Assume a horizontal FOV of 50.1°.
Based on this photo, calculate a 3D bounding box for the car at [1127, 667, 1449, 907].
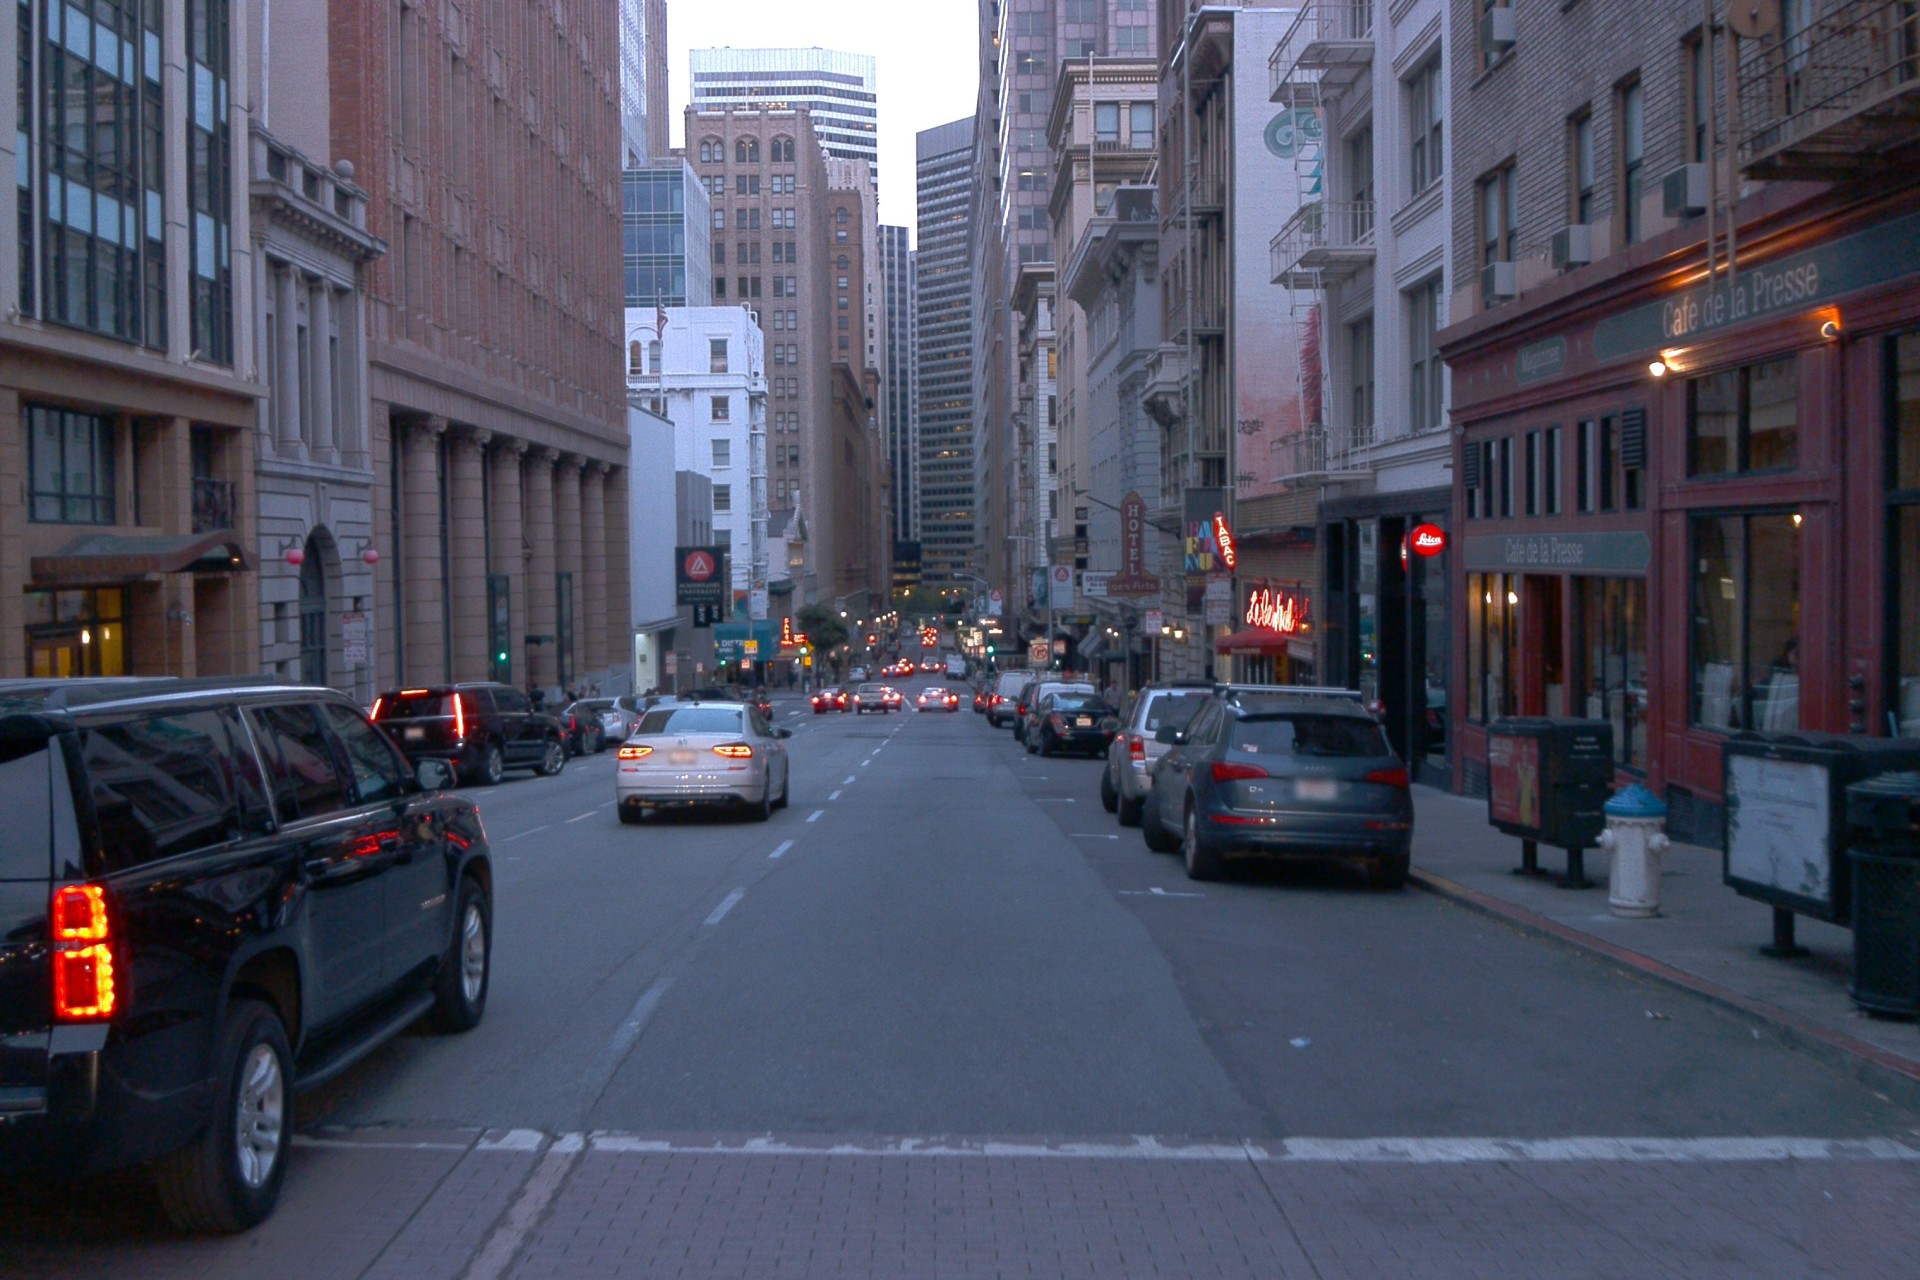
[{"bbox_3d":[2.902,1.242,19.356,2.215,1.850,4.835,0,1,0],"label":"car"}]

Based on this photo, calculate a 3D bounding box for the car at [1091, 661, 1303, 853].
[{"bbox_3d":[2.864,1.372,25.861,2.112,2.100,4.445,0,1,0],"label":"car"}]

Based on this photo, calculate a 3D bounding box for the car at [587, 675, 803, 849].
[{"bbox_3d":[-3.213,1.441,25.932,2.119,1.850,4.734,0,1,0],"label":"car"}]
